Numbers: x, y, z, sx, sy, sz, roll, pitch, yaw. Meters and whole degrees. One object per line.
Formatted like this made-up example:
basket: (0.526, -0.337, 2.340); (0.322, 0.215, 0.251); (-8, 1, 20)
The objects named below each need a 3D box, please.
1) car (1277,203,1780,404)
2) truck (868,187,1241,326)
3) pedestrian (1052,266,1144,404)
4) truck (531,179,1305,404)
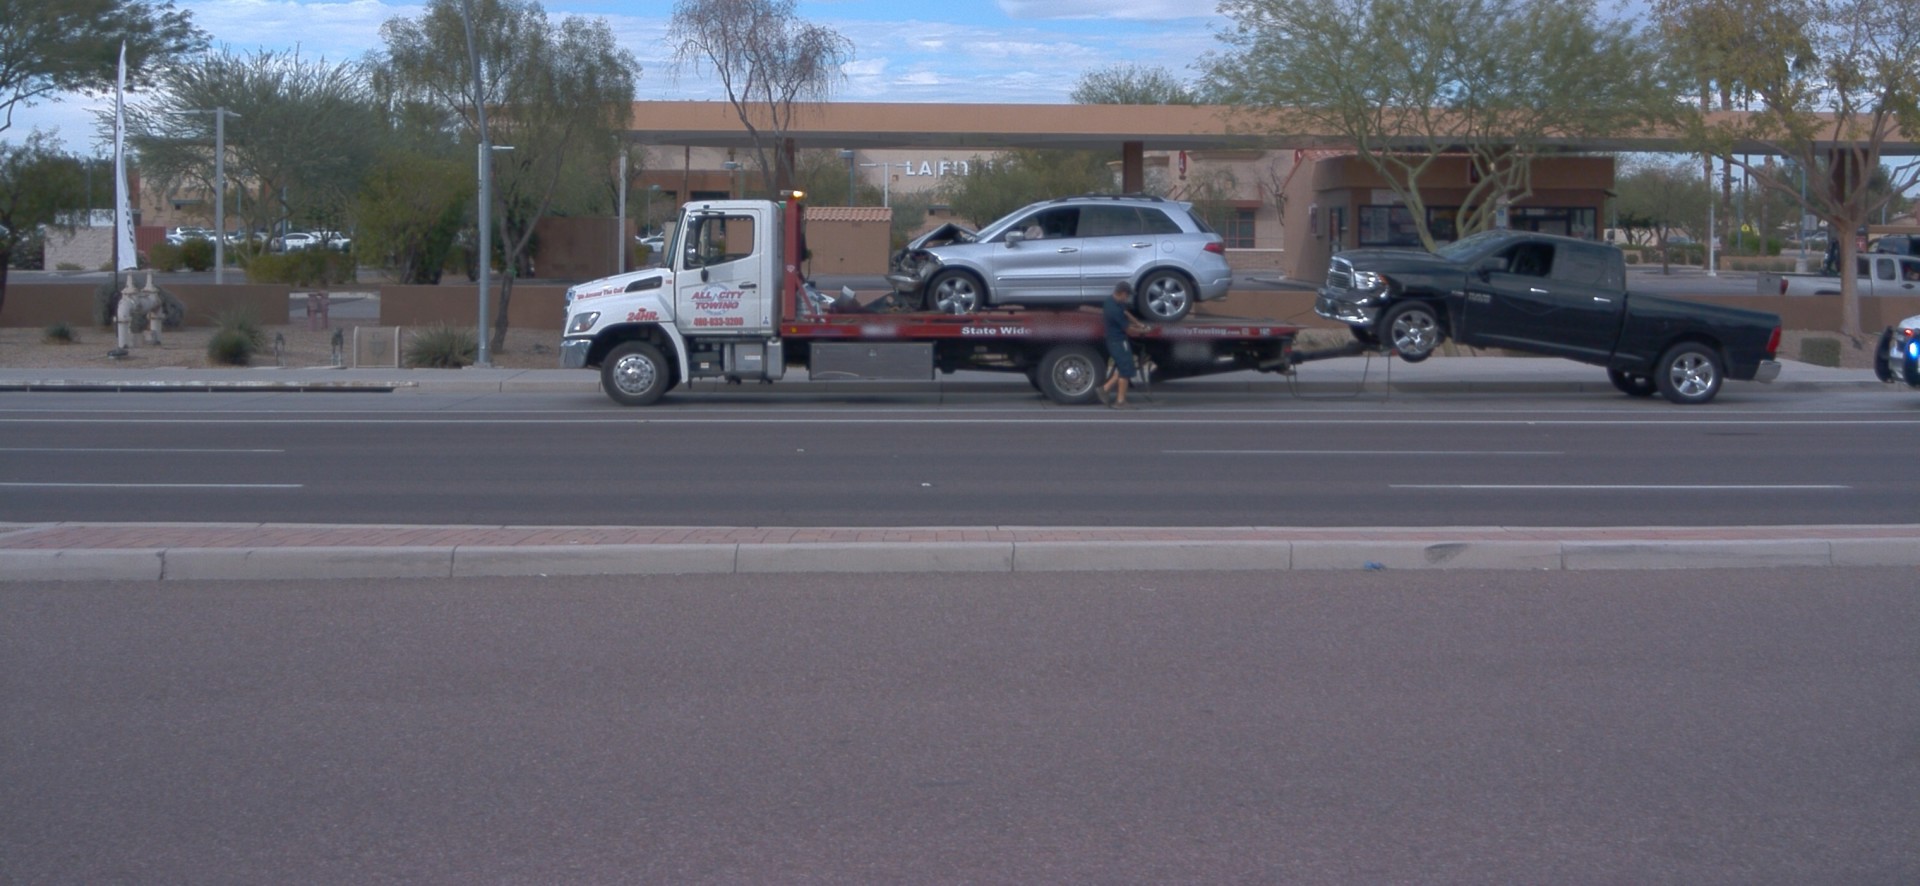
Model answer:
car: (7.388, -1.900, 27.610); (5.901, 2.501, 2.585); (0, 4, -3)
truck: (1.151, -2.476, 27.416); (4.710, 1.743, 2.134); (0, 5, -3)
pedestrian: (1.692, -1.350, 25.776); (1.004, 1.646, 0.941); (0, 3, -4)
truck: (-0.551, -2.052, 27.332); (9.517, 2.739, 3.303); (0, 5, -3)
